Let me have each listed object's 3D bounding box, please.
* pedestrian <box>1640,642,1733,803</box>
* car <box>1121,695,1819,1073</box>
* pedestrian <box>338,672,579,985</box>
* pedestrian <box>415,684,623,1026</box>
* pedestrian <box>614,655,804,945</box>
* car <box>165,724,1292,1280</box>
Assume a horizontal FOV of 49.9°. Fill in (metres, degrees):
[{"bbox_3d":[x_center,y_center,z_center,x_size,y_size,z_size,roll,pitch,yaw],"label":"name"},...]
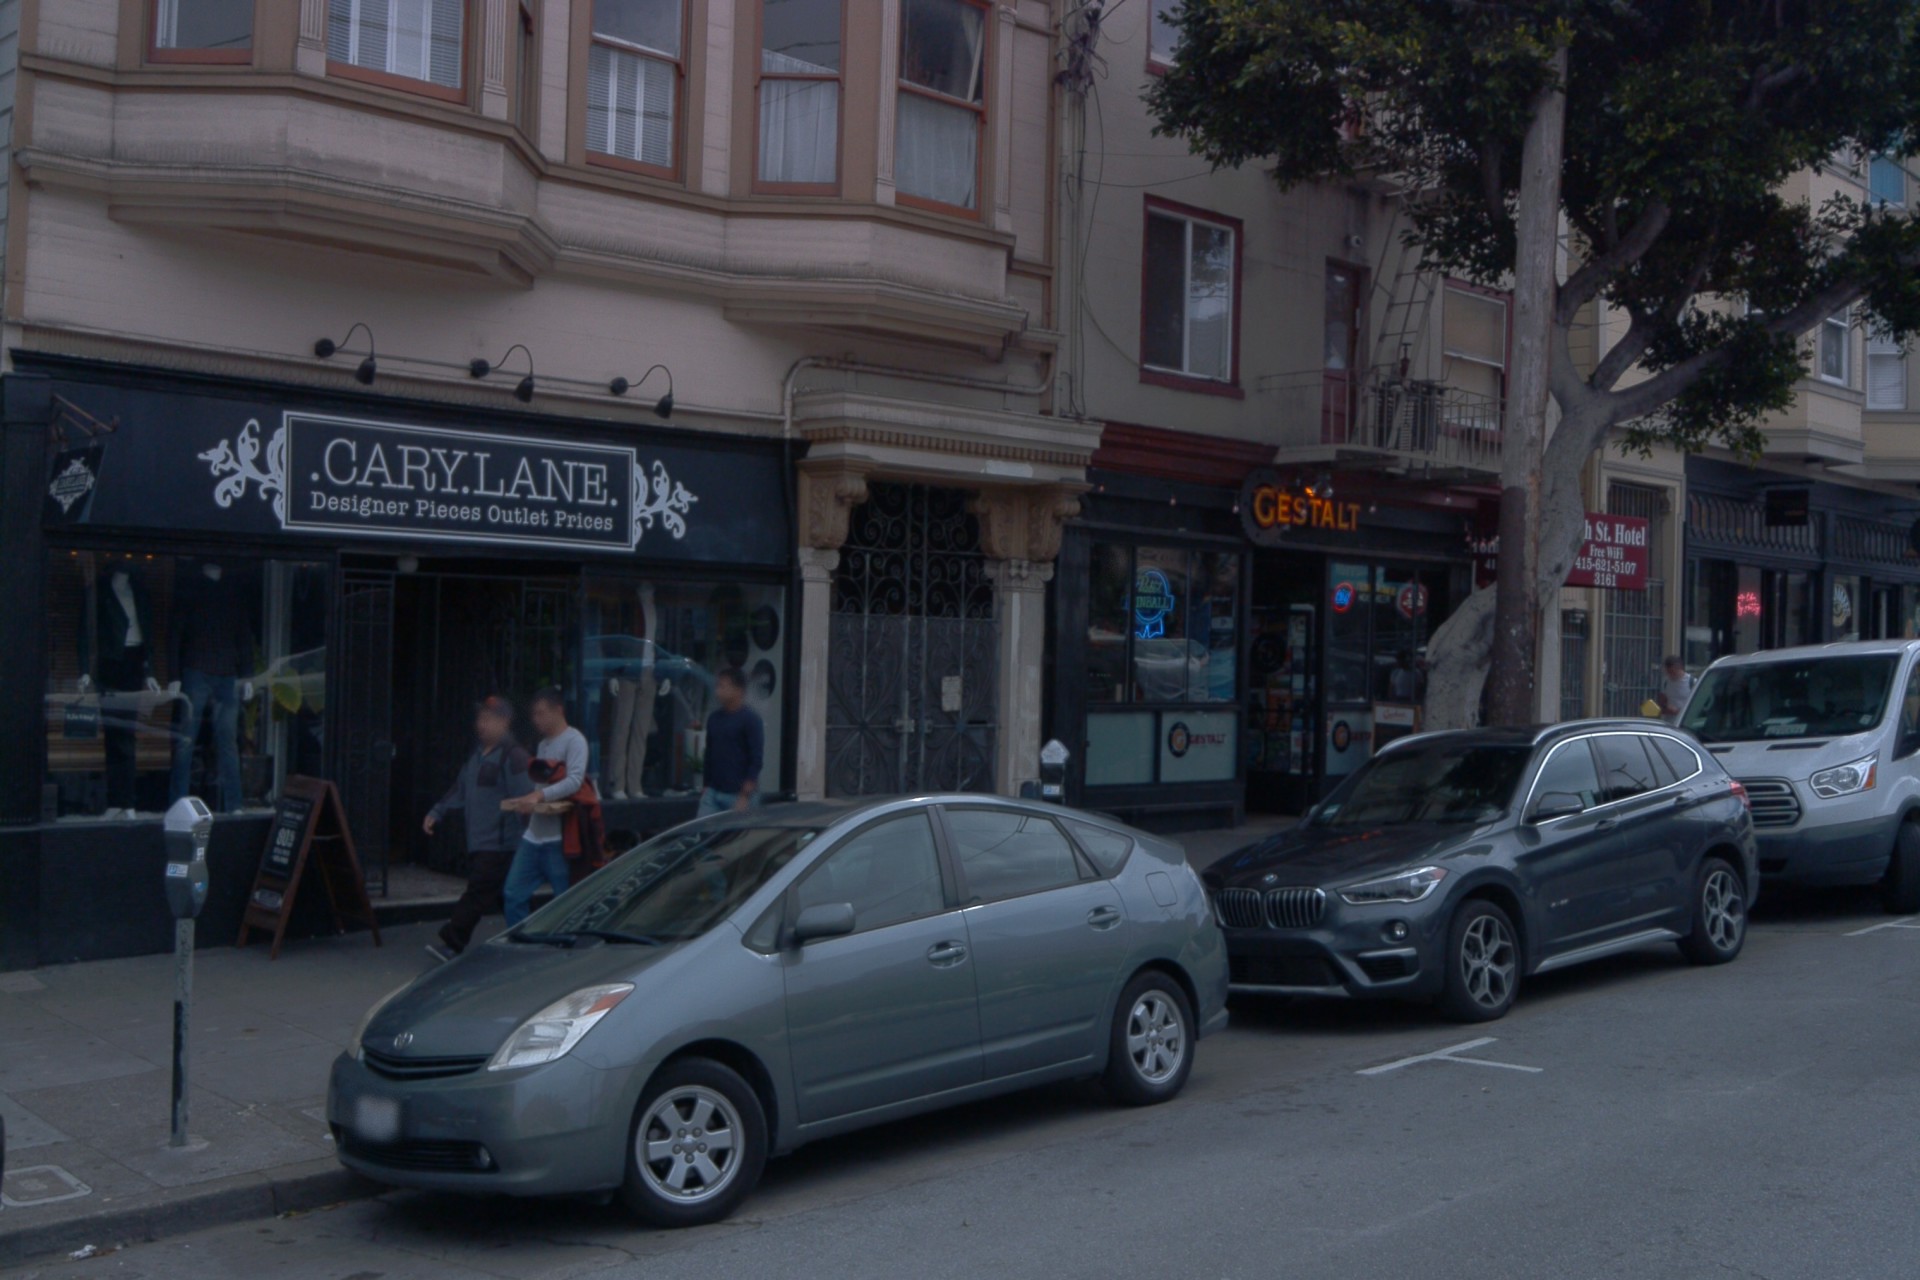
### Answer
[{"bbox_3d":[8.055,0.893,22.875,0.670,1.730,0.929,1,1,41],"label":"pedestrian"},{"bbox_3d":[3.272,1.300,12.717,4.497,1.710,2.029,-1,1,-43],"label":"car"},{"bbox_3d":[-3.001,1.079,12.376,0.854,1.730,1.107,1,1,43],"label":"pedestrian"},{"bbox_3d":[-2.509,1.176,11.757,0.801,1.810,0.848,1,1,43],"label":"pedestrian"},{"bbox_3d":[-1.705,1.043,14.038,0.859,1.850,0.946,1,1,44],"label":"pedestrian"},{"bbox_3d":[-0.728,1.356,8.818,2.027,1.720,4.539,1,1,43],"label":"car"}]
